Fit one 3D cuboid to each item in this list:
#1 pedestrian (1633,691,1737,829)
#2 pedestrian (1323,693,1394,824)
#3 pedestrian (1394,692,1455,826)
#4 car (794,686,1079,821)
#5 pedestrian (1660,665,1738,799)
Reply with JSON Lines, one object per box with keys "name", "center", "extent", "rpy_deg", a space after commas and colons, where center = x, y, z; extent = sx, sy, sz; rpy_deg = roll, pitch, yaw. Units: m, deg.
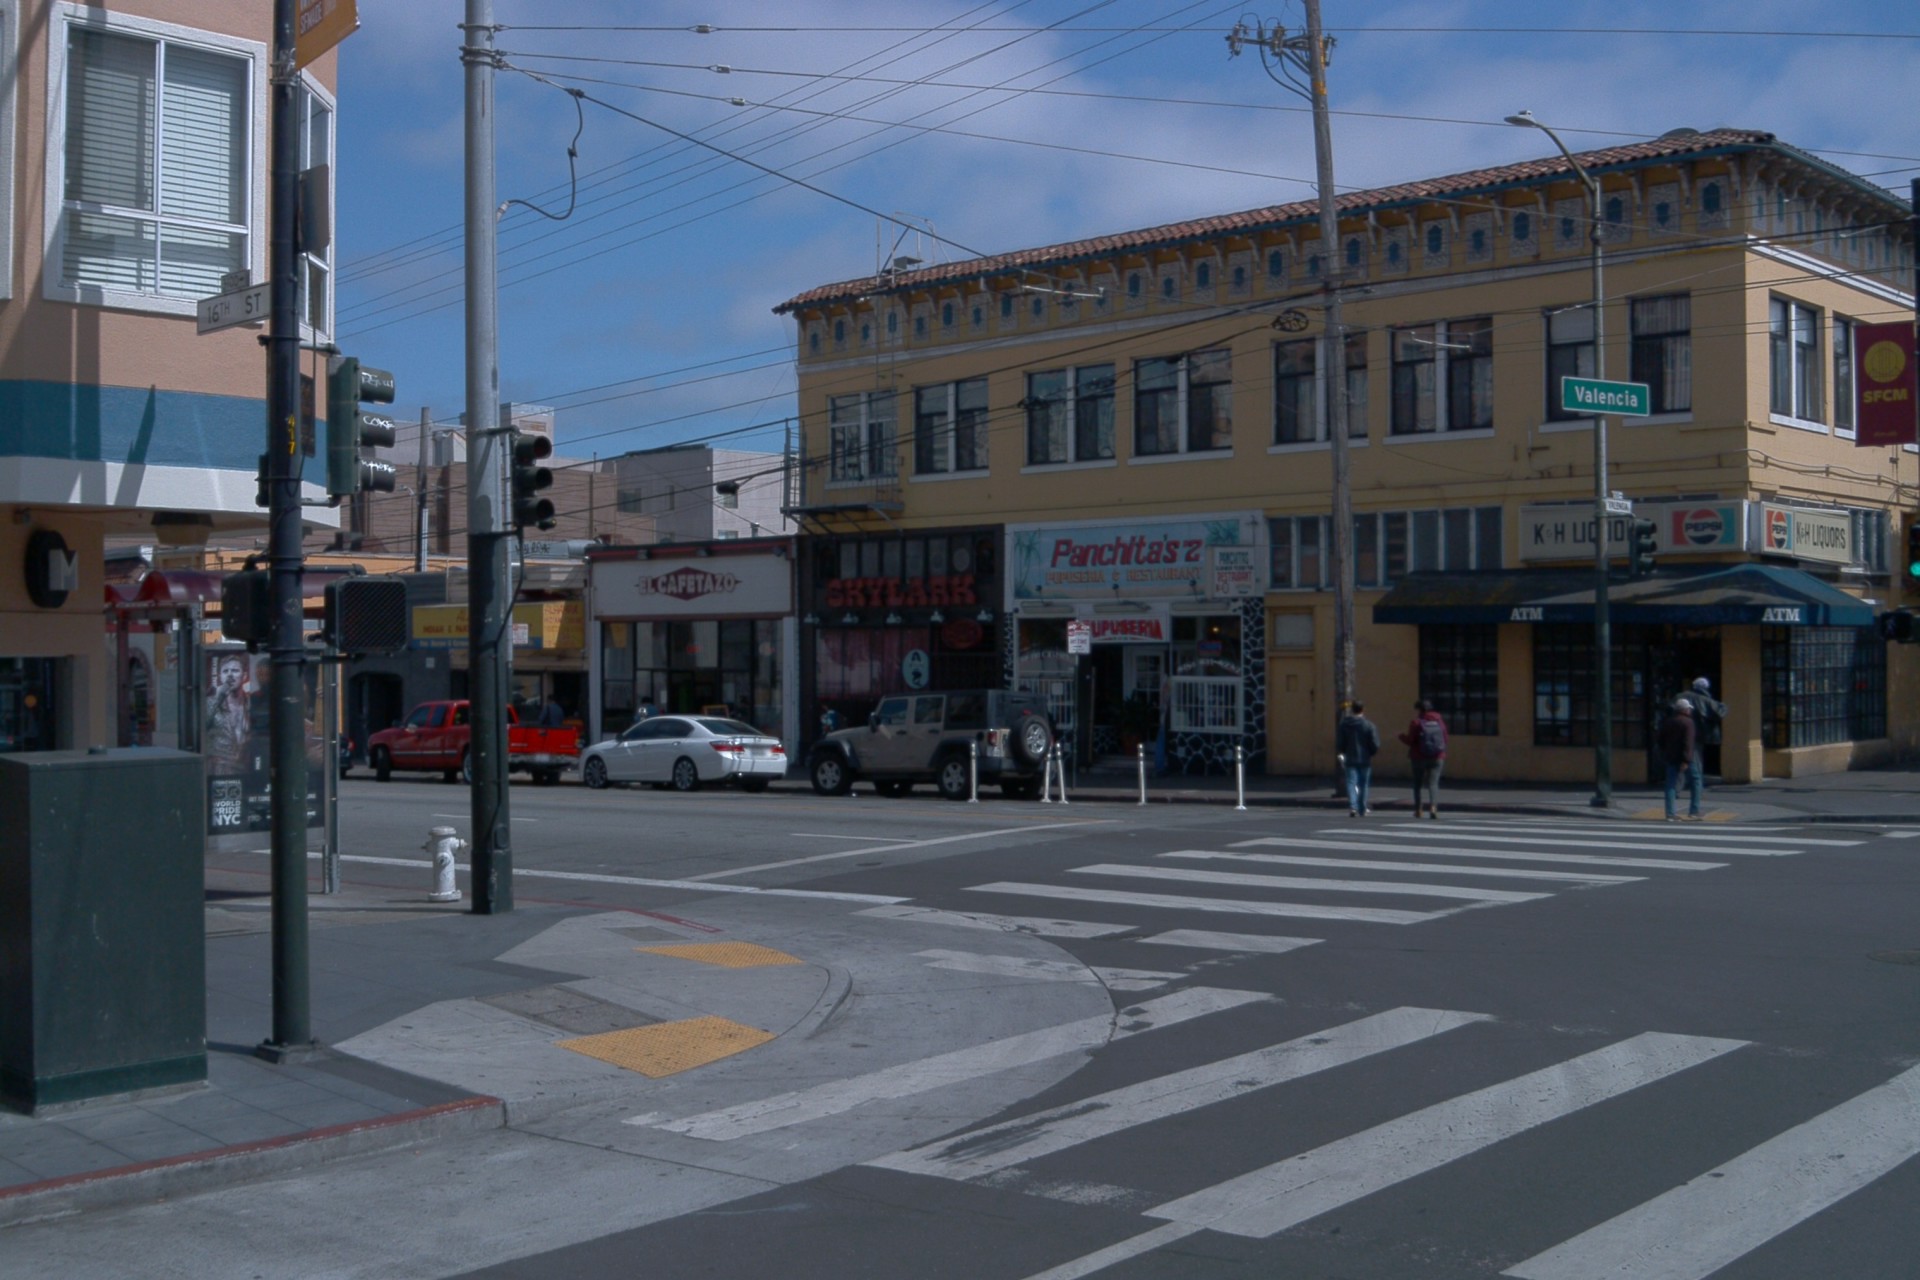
{"name": "pedestrian", "center": [9.576, 1.560, 27.254], "extent": [1.084, 1.730, 0.796], "rpy_deg": [-1, 1, -34]}
{"name": "pedestrian", "center": [5.157, 1.518, 26.764], "extent": [0.882, 1.630, 0.914], "rpy_deg": [0, 1, 10]}
{"name": "pedestrian", "center": [5.941, 1.510, 26.407], "extent": [0.747, 1.650, 0.861], "rpy_deg": [0, 1, 12]}
{"name": "car", "center": [-0.458, 1.844, 34.914], "extent": [4.715, 1.960, 2.025], "rpy_deg": [1, 1, 43]}
{"name": "pedestrian", "center": [10.463, 1.292, 29.237], "extent": [0.904, 1.850, 0.714], "rpy_deg": [0, 1, 7]}
